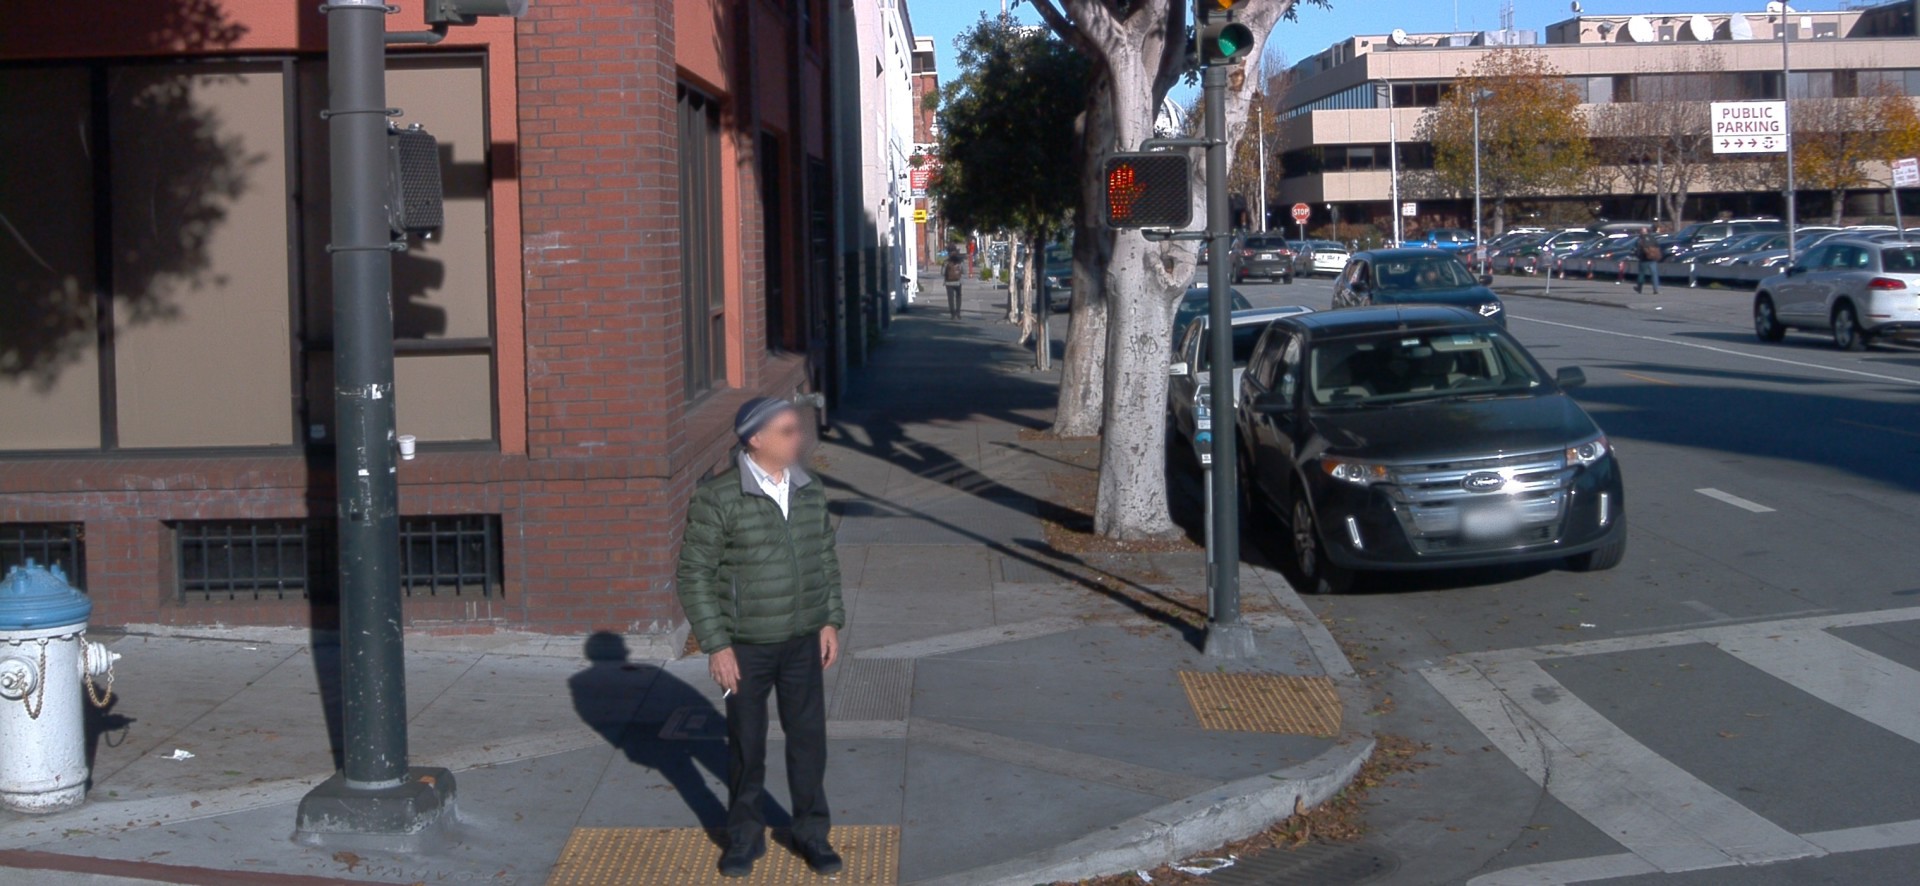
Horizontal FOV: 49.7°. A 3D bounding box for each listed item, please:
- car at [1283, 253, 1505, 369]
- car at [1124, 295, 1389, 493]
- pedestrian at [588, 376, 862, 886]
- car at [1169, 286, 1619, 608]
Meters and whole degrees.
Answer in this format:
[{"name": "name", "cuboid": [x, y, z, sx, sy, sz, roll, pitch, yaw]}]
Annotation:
[{"name": "car", "cuboid": [6.368, -2.051, 31.015, 2.060, 1.544, 4.994, -1, 5, -3]}, {"name": "car", "cuboid": [2.823, -0.600, 20.752, 2.034, 1.614, 4.649, 0, 5, 1]}, {"name": "pedestrian", "cuboid": [-0.882, 0.680, 7.649, 0.846, 1.790, 0.737, -1, 1, -20]}, {"name": "car", "cuboid": [2.823, -0.162, 14.707, 2.172, 1.784, 4.861, 0, 5, 0]}]
